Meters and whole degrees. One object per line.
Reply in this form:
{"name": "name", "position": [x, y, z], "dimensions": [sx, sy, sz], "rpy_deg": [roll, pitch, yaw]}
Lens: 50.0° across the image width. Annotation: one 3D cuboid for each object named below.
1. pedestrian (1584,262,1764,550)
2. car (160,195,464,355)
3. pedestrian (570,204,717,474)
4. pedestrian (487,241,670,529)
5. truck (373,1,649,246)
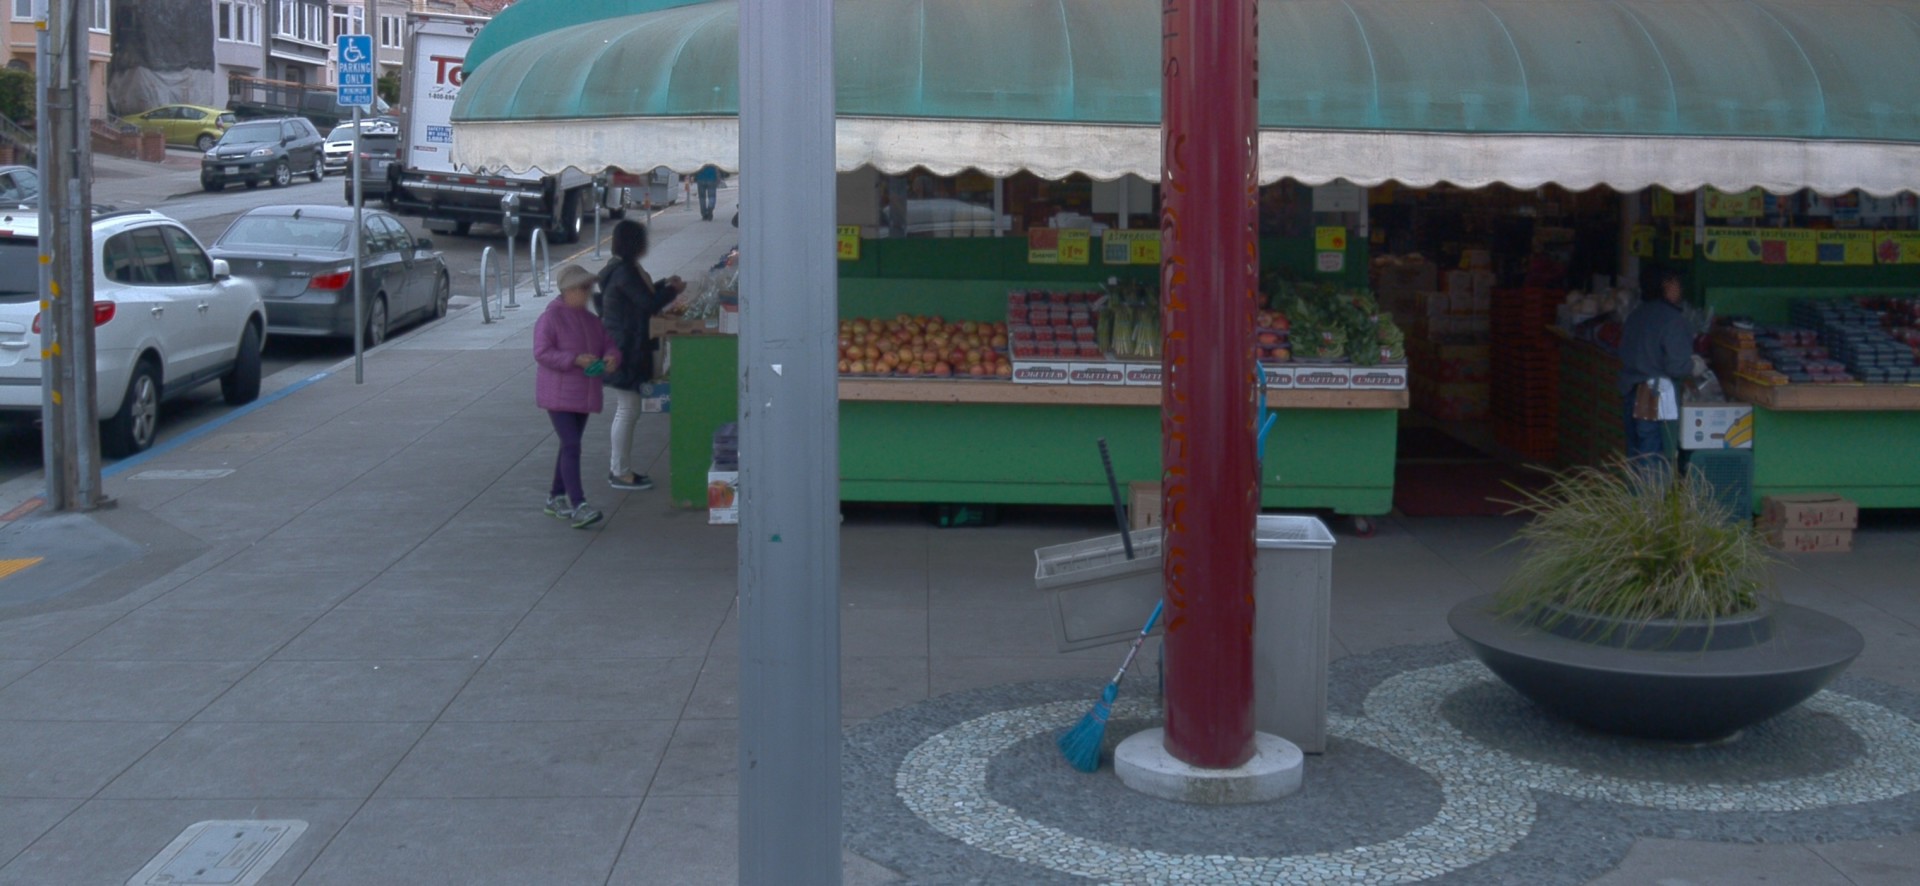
{"name": "pedestrian", "position": [4.009, -0.235, 11.599], "dimensions": [0.743, 1.557, 0.755], "rpy_deg": [0, 2, 0]}
{"name": "car", "position": [-6.729, -1.846, 21.912], "dimensions": [1.969, 1.513, 4.609], "rpy_deg": [0, 6, -3]}
{"name": "pedestrian", "position": [-1.976, -0.674, 12.790], "dimensions": [0.796, 1.607, 0.823], "rpy_deg": [-1, 2, -17]}
{"name": "pedestrian", "position": [-2.154, -0.361, 11.667], "dimensions": [0.797, 1.564, 0.706], "rpy_deg": [1, 2, 14]}
{"name": "truck", "position": [-7.698, -5.472, 36.846], "dimensions": [2.914, 3.770, 10.115], "rpy_deg": [0, 5, -1]}
